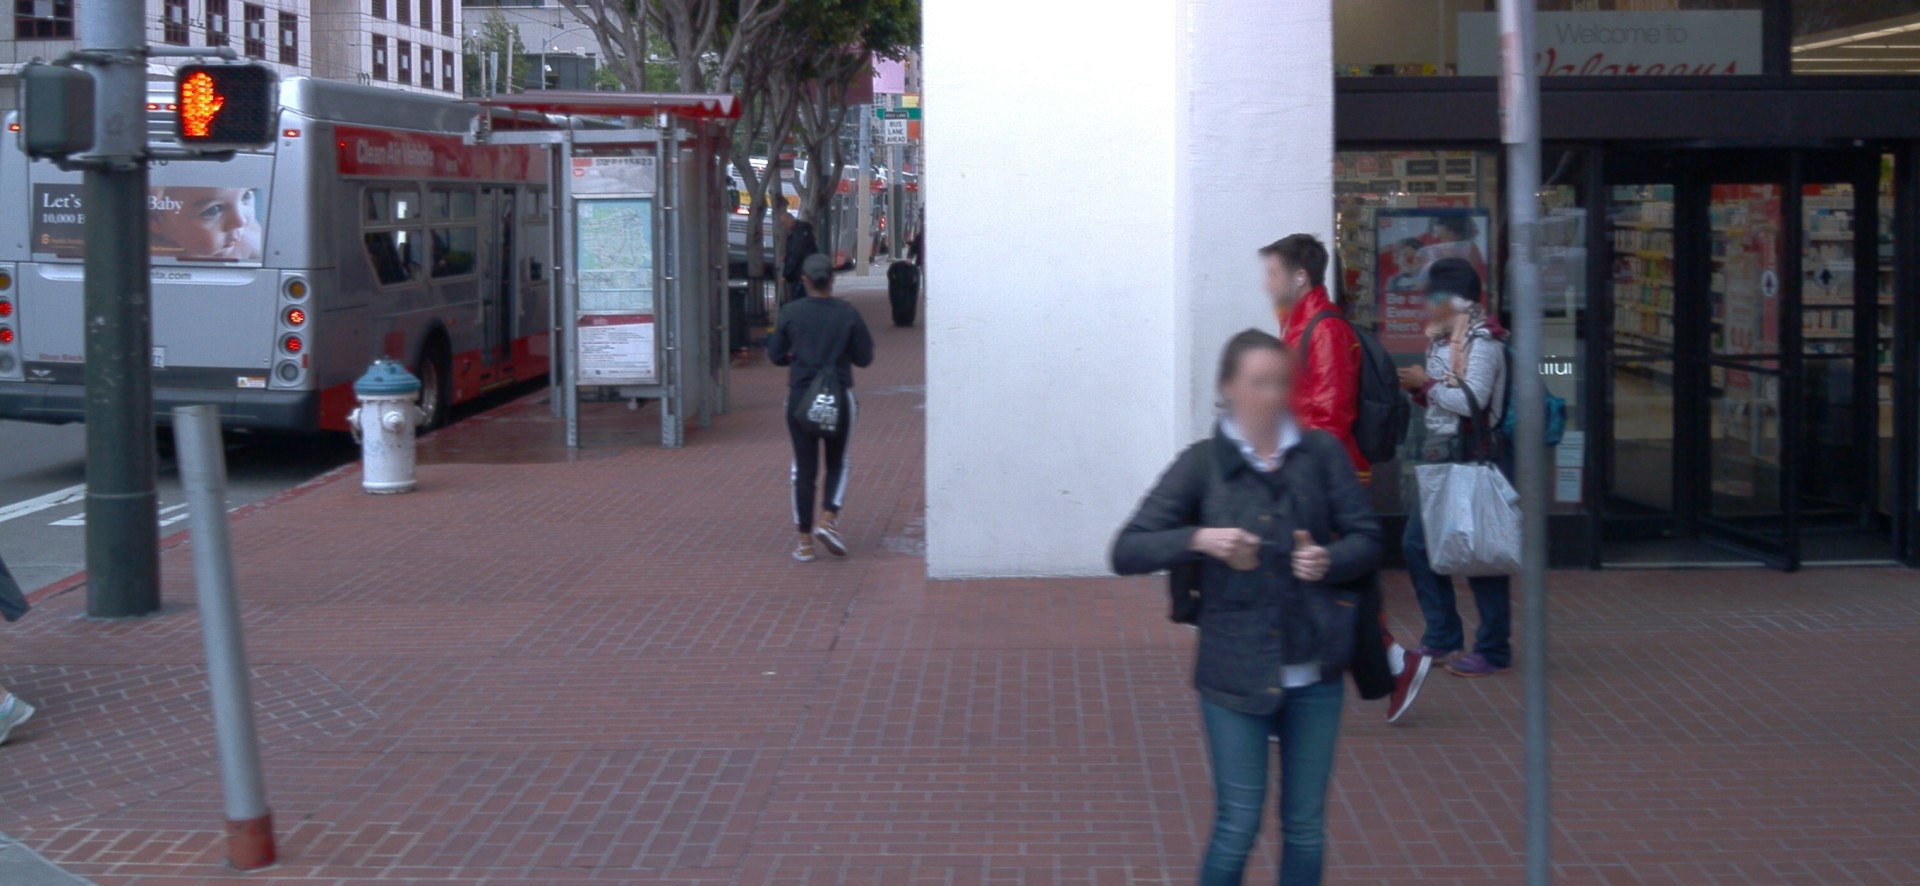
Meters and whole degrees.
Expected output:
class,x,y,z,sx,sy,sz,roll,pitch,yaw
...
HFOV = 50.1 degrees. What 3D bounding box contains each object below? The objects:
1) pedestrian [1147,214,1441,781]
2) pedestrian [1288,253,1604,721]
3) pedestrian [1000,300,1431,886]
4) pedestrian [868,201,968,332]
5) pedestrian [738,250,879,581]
class,x,y,z,sx,sy,sz,roll,pitch,yaw
pedestrian,1.181,0.139,7.297,0.978,1.895,0.717,0,1,9
pedestrian,1.877,0.116,8.085,0.981,1.715,0.965,0,2,-3
pedestrian,0.573,0.530,4.939,0.836,1.715,0.900,0,1,-7
pedestrian,-0.605,-2.613,30.270,1.445,1.884,1.400,0,2,0
pedestrian,-0.808,-0.183,10.794,0.695,1.655,0.866,0,1,-7
